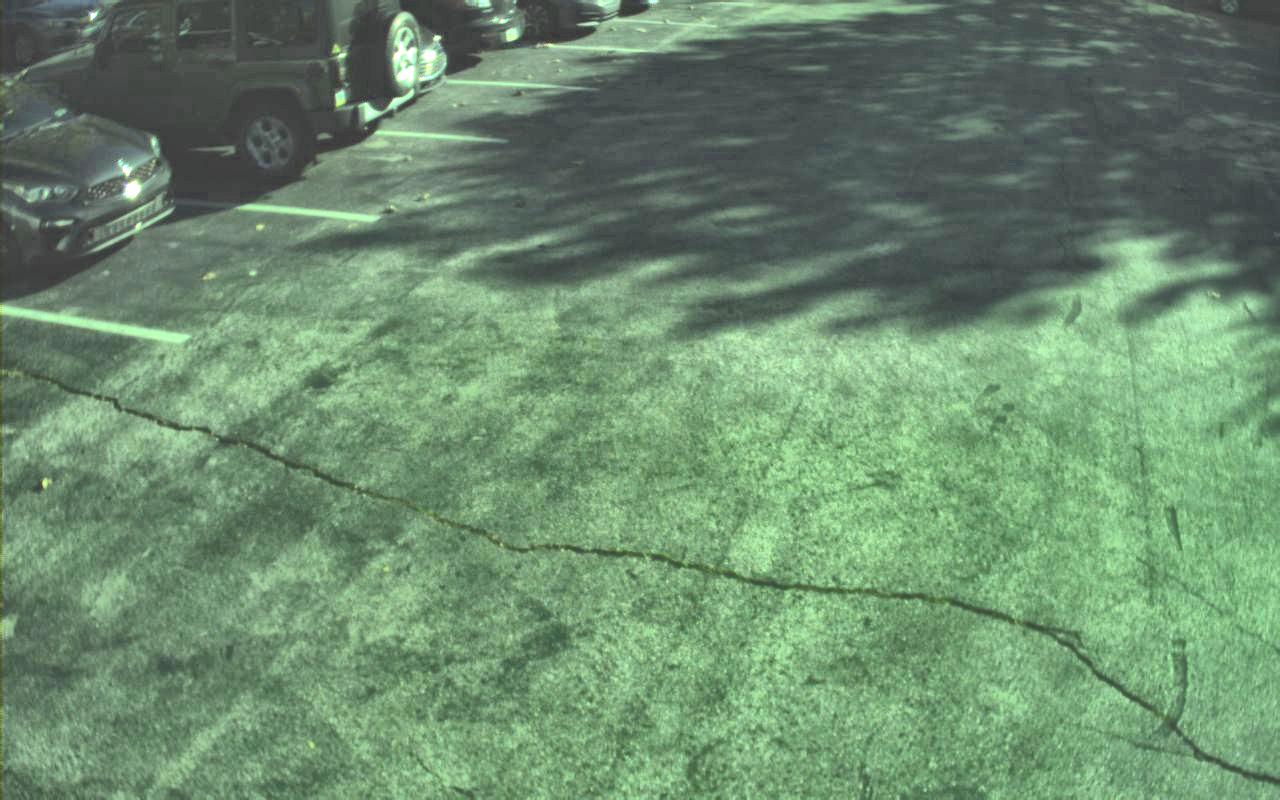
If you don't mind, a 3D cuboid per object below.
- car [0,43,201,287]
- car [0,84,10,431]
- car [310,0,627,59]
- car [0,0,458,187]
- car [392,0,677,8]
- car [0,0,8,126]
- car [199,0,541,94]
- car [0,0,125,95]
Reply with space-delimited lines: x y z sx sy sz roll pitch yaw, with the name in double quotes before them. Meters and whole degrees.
"car" -5.971 -1.975 9.260 4.402 1.574 1.947 5 17 19
"car" -6.760 -1.069 7.122 4.599 1.704 2.012 5 17 19
"car" -2.600 -6.050 18.214 4.420 1.577 1.964 3 17 14
"car" -4.353 -3.214 11.376 4.753 1.902 2.066 4 17 16
"car" -1.762 -7.445 20.167 4.425 1.608 1.966 3 17 12
"car" -11.945 -5.207 16.032 4.414 1.624 1.961 5 17 20
"car" -3.739 -5.076 16.166 4.375 1.612 1.964 5 17 21
"car" -10.888 -6.175 18.257 4.468 1.626 1.964 6 18 21
